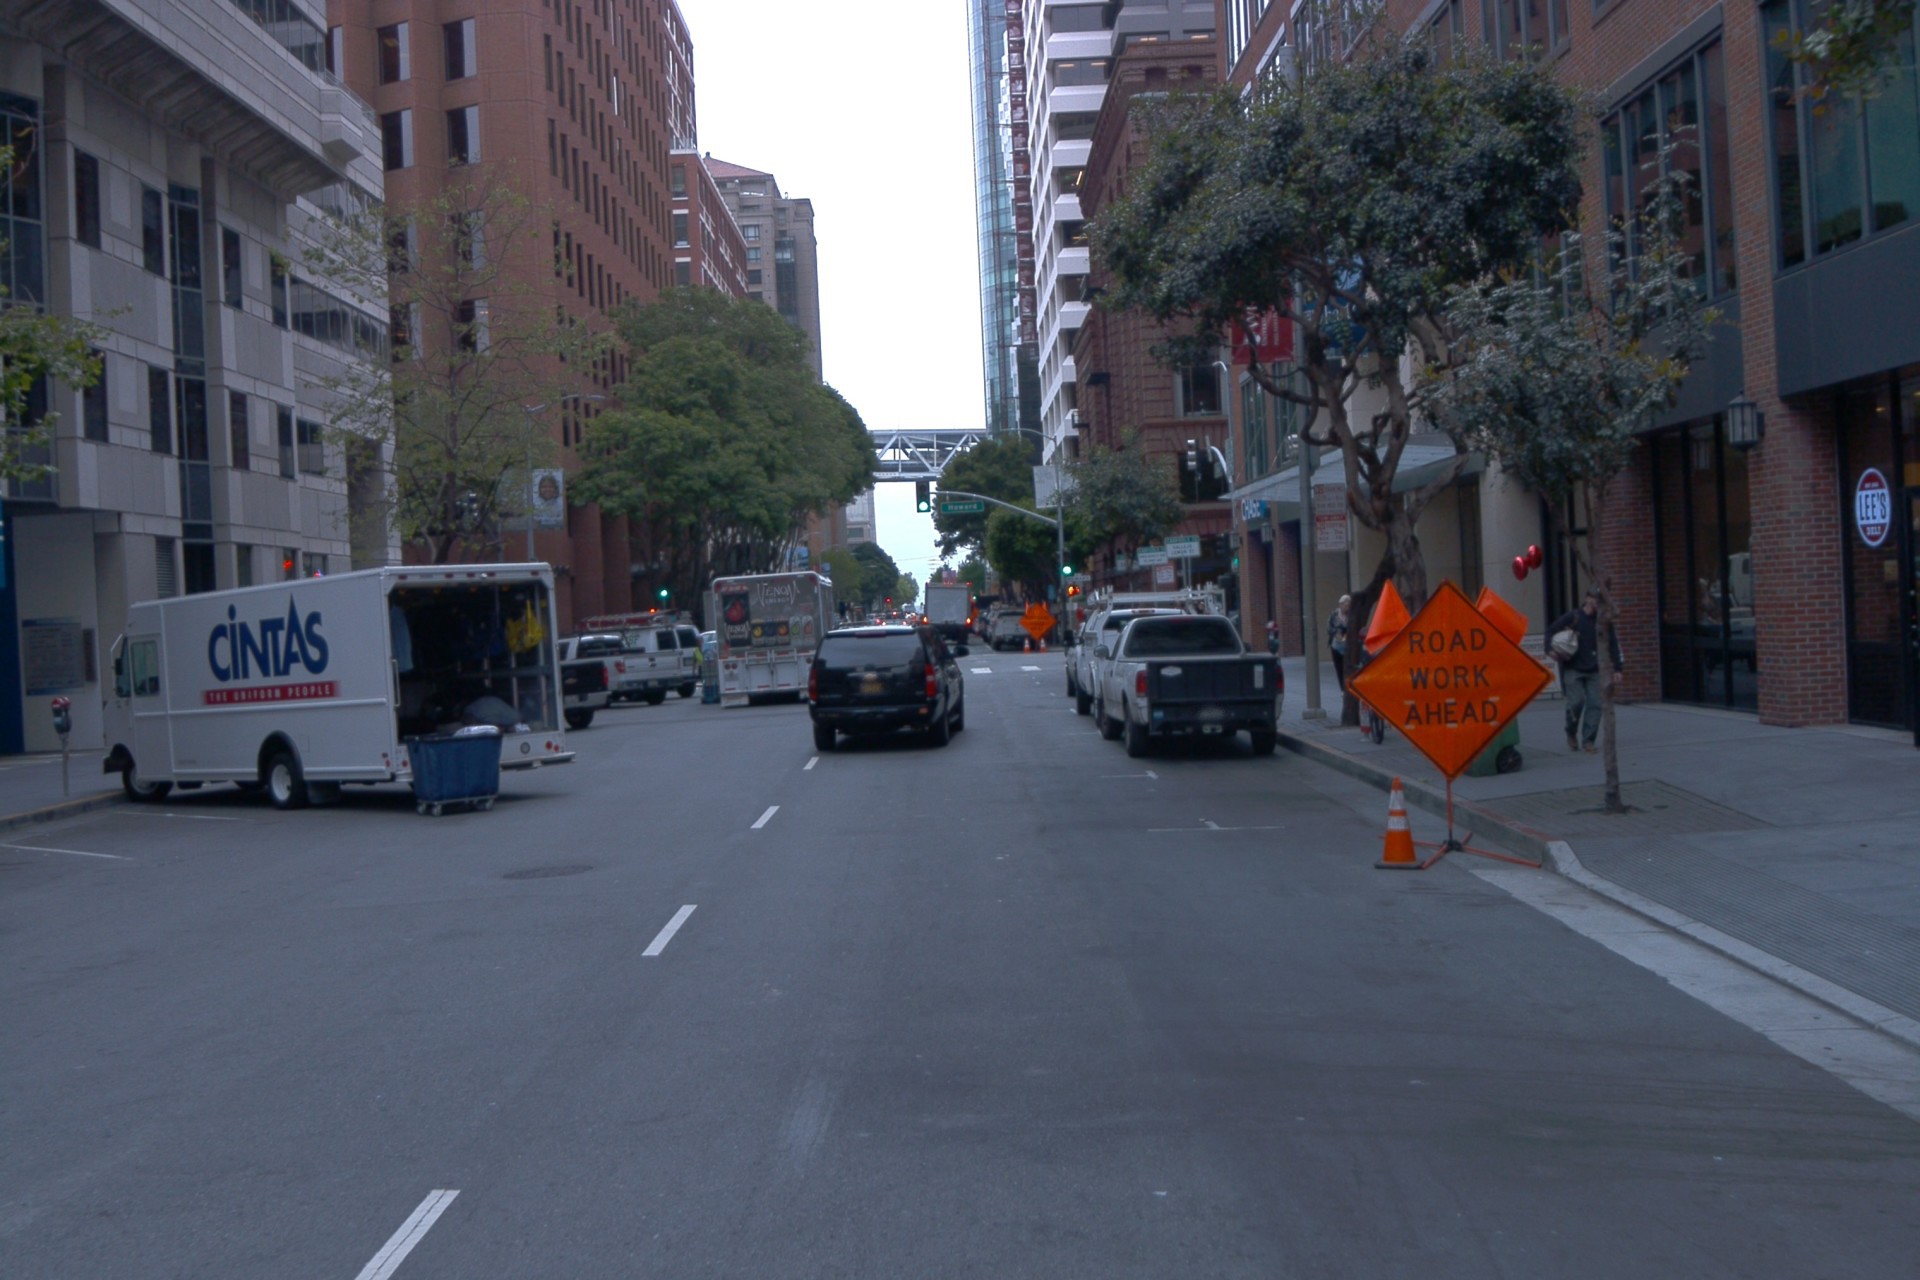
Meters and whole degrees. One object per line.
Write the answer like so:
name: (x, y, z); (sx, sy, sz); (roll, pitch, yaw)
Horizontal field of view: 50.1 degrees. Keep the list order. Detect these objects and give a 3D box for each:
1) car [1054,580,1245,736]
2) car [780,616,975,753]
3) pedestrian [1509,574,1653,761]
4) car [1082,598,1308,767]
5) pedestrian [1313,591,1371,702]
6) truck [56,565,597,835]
car: (3.080, 0.236, 35.003); (2.554, 2.400, 6.423); (0, 1, -1)
car: (-1.159, 0.599, 32.128); (2.451, 1.929, 5.810); (0, 1, 4)
pedestrian: (6.421, 0.272, 21.335); (1.119, 1.882, 1.324); (0, 1, 2)
car: (3.100, 0.494, 28.504); (2.321, 2.100, 5.868); (0, 1, -1)
pedestrian: (6.313, 0.101, 34.017); (0.735, 1.820, 0.913); (0, 1, -4)
truck: (-8.595, 0.633, 27.119); (8.490, 3.050, 2.928); (0, 1, 43)
